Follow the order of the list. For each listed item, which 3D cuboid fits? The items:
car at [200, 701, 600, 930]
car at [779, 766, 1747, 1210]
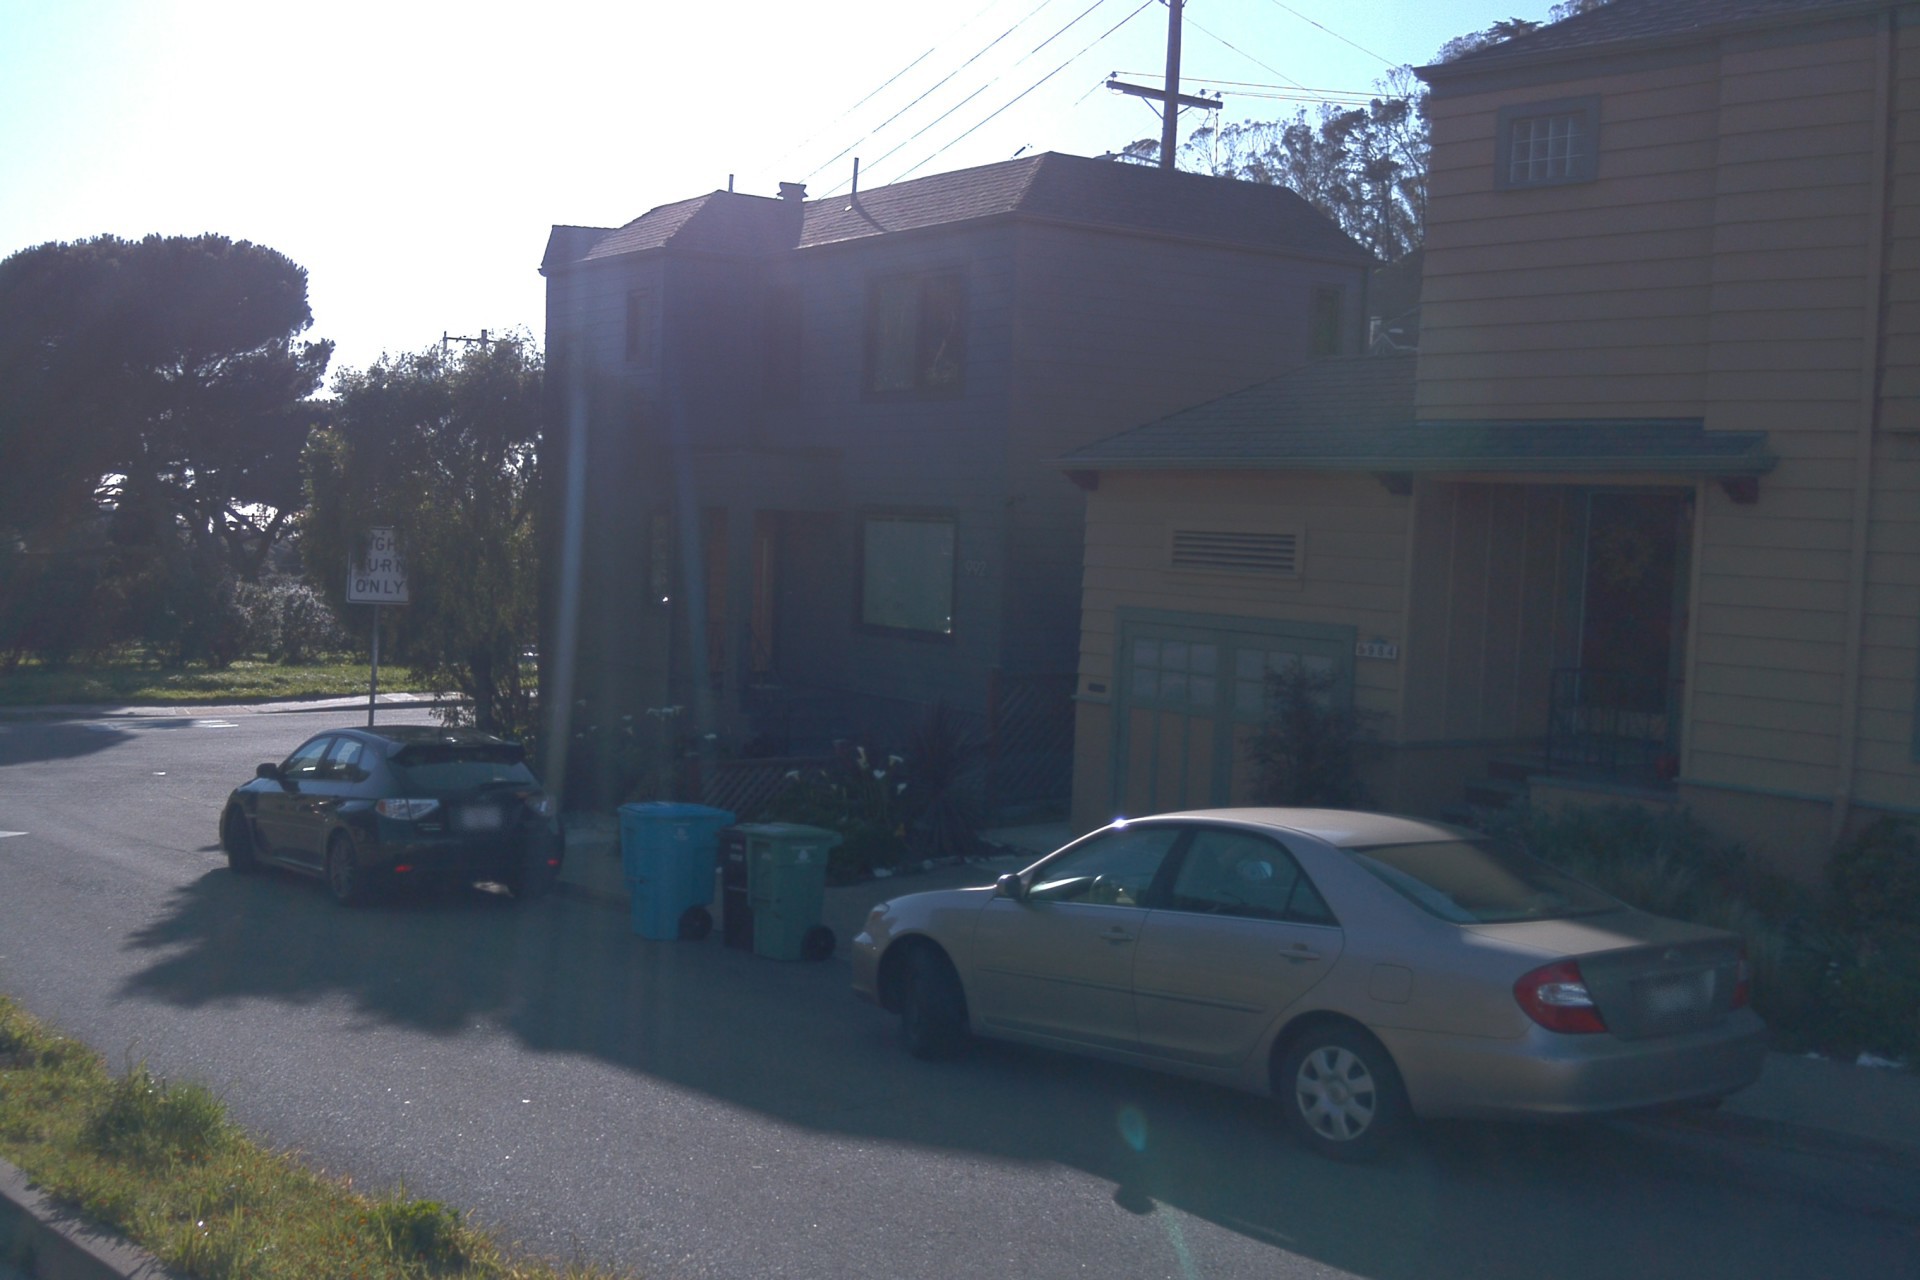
[{"bbox_3d":[-5.118,1.441,18.724,1.996,1.660,4.357,1,0,-36],"label":"car"},{"bbox_3d":[1.318,1.556,10.964,2.053,1.500,4.825,1,0,-41],"label":"car"}]
